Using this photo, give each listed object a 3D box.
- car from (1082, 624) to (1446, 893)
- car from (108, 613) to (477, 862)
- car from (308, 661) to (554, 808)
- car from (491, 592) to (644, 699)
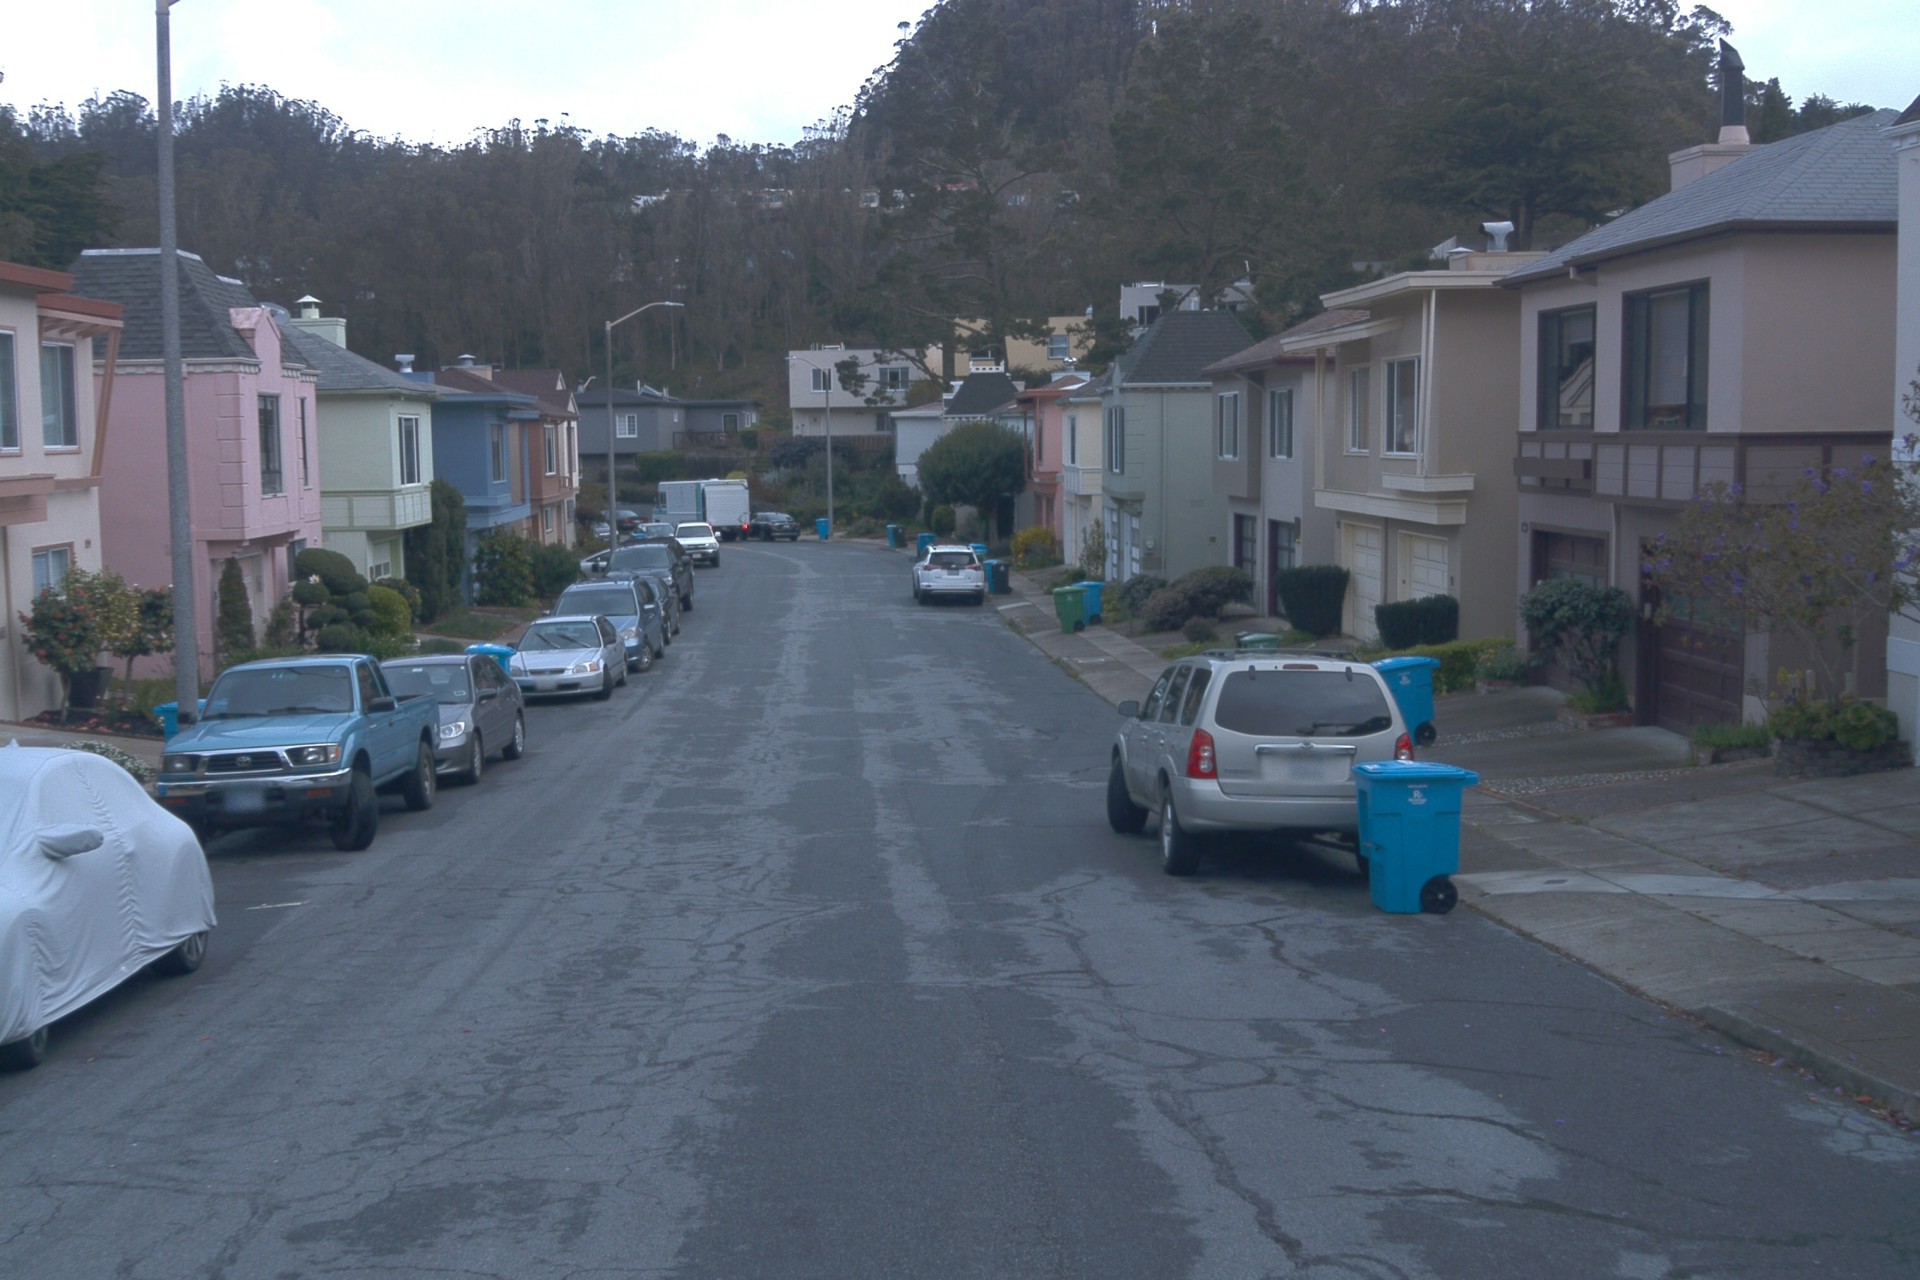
[{"bbox_3d":[2.343,0.869,17.270,2.144,1.940,4.472,0,0,-3],"label":"car"},{"bbox_3d":[-6.186,0.829,19.905,2.183,2.085,5.077,0,0,-3],"label":"car"},{"bbox_3d":[-6.255,1.060,25.022,1.931,1.590,4.512,0,0,-2],"label":"car"},{"bbox_3d":[-6.653,0.095,35.564,1.914,1.720,4.447,0,0,-2],"label":"car"}]
